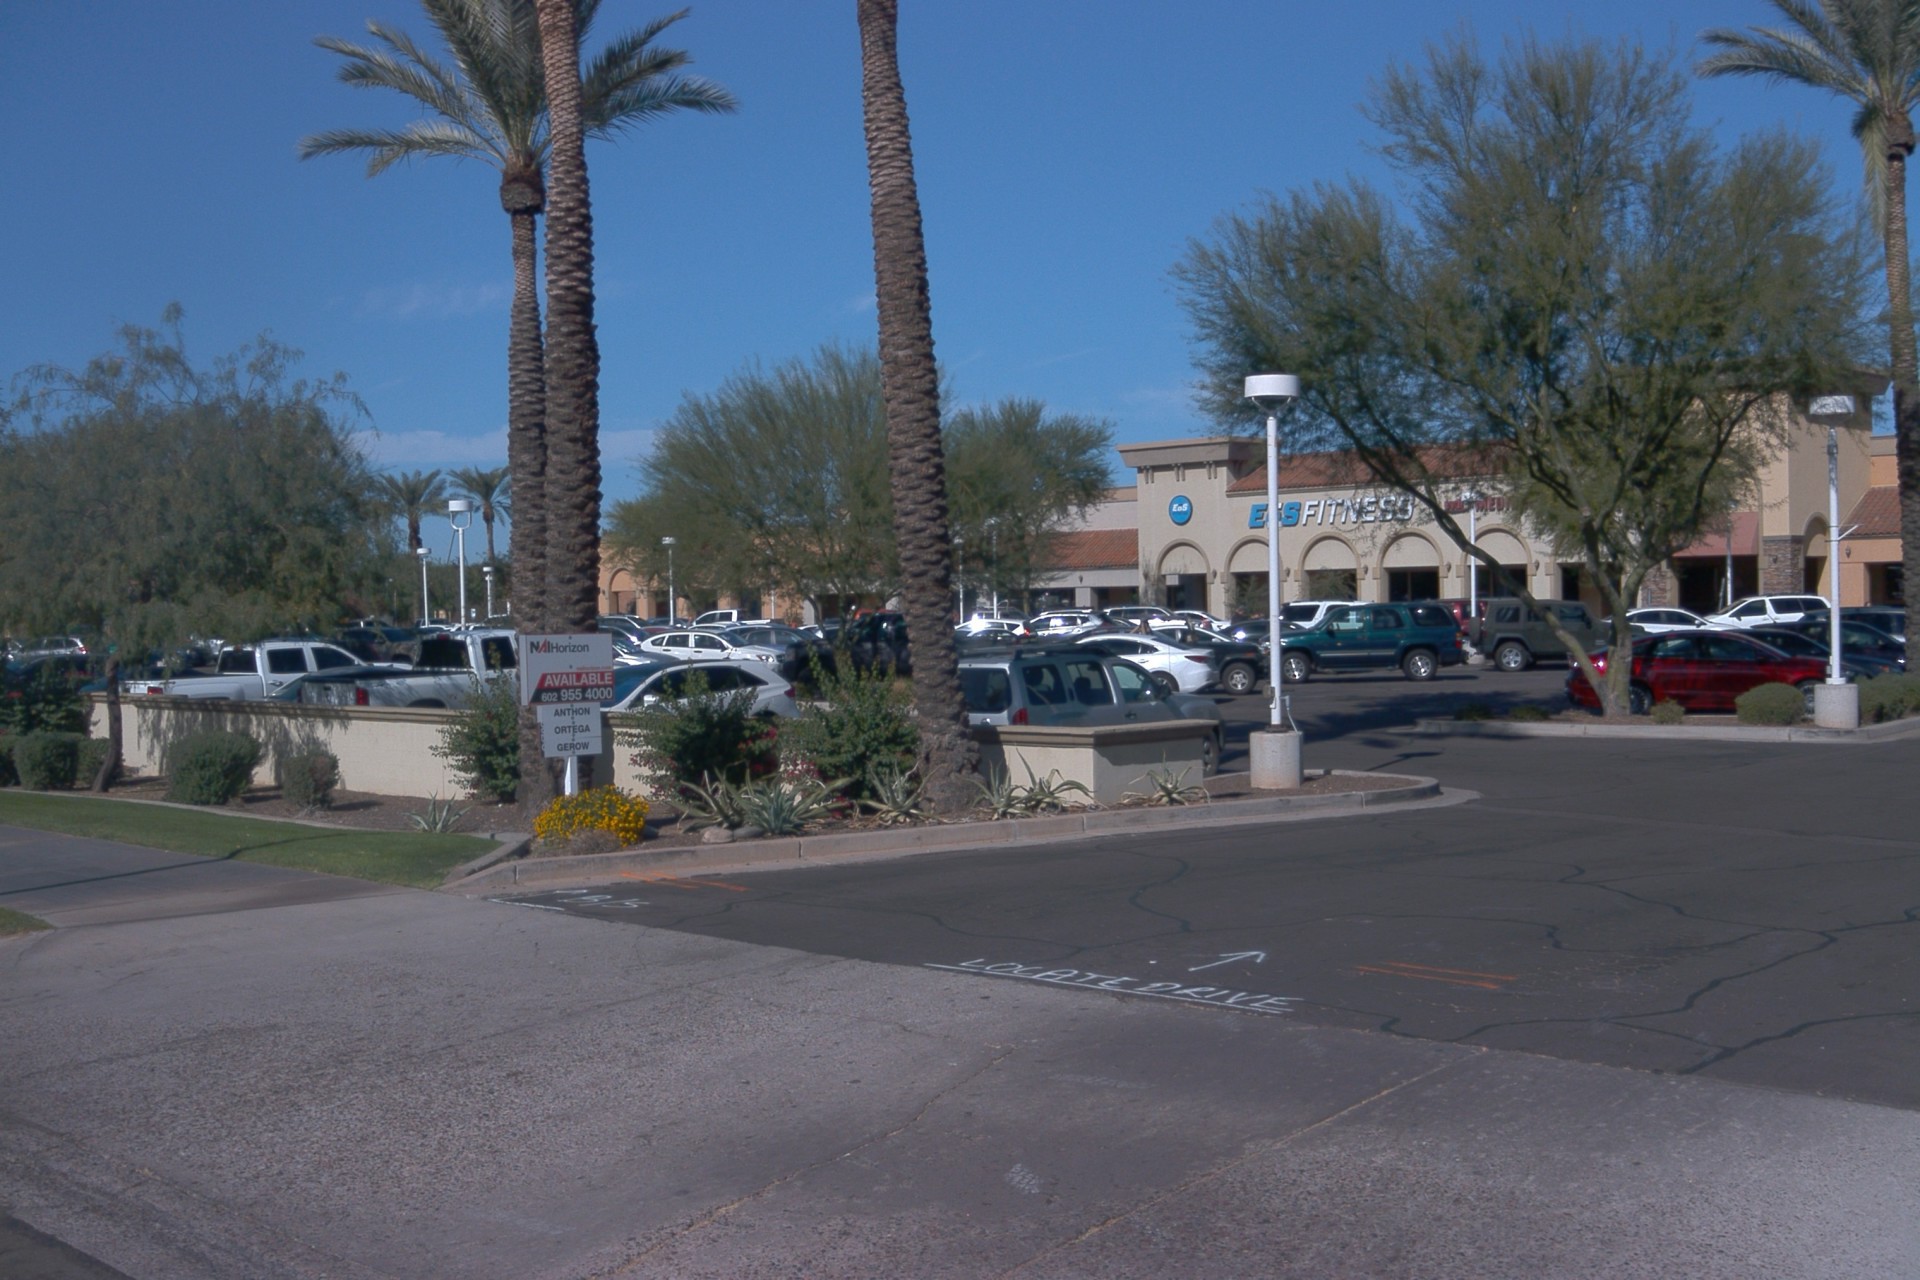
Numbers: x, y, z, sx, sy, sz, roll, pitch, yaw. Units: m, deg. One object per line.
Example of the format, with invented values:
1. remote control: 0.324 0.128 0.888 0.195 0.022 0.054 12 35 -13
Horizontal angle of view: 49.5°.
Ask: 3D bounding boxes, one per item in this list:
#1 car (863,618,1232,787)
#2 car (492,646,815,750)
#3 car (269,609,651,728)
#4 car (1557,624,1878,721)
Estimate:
1. car: 1.149 0.722 25.064 2.176 1.830 4.477 0 -1 39
2. car: -4.494 0.838 30.886 4.232 1.440 2.236 1 -1 -45
3. car: -8.207 0.486 34.623 2.558 1.800 5.701 0 -1 43
4. car: 12.428 0.529 34.491 4.855 1.530 2.145 0 -1 16
